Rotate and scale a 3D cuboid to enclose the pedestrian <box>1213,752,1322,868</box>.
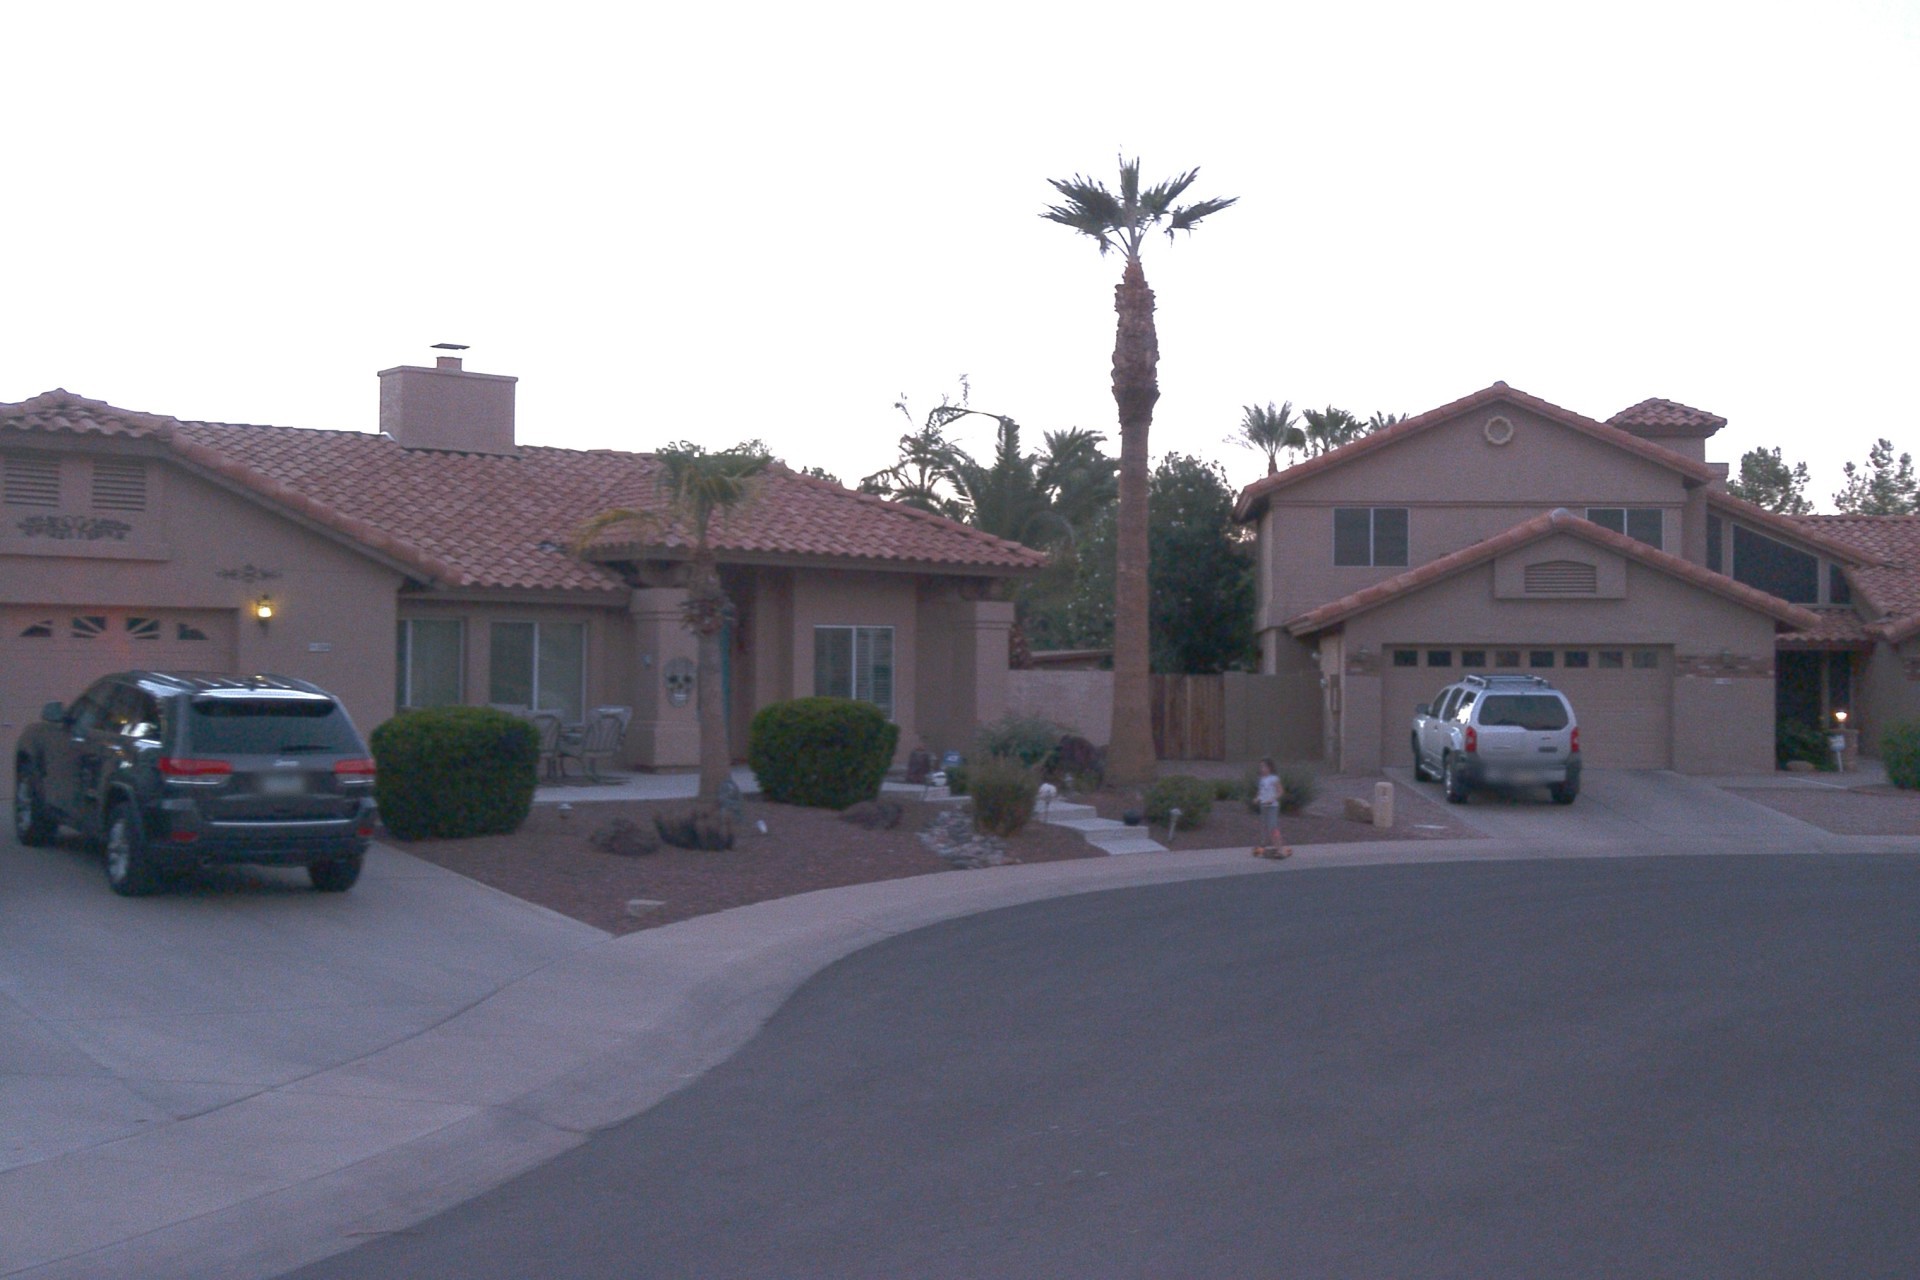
[{"bbox_3d":[3.613,1.982,24.362,1.099,1.280,0.644,1,-1,-33],"label":"pedestrian"}]

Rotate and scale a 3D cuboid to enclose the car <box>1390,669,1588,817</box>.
[{"bbox_3d":[8.069,1.510,32.072,2.105,2.070,4.687,1,-1,3],"label":"car"}]
